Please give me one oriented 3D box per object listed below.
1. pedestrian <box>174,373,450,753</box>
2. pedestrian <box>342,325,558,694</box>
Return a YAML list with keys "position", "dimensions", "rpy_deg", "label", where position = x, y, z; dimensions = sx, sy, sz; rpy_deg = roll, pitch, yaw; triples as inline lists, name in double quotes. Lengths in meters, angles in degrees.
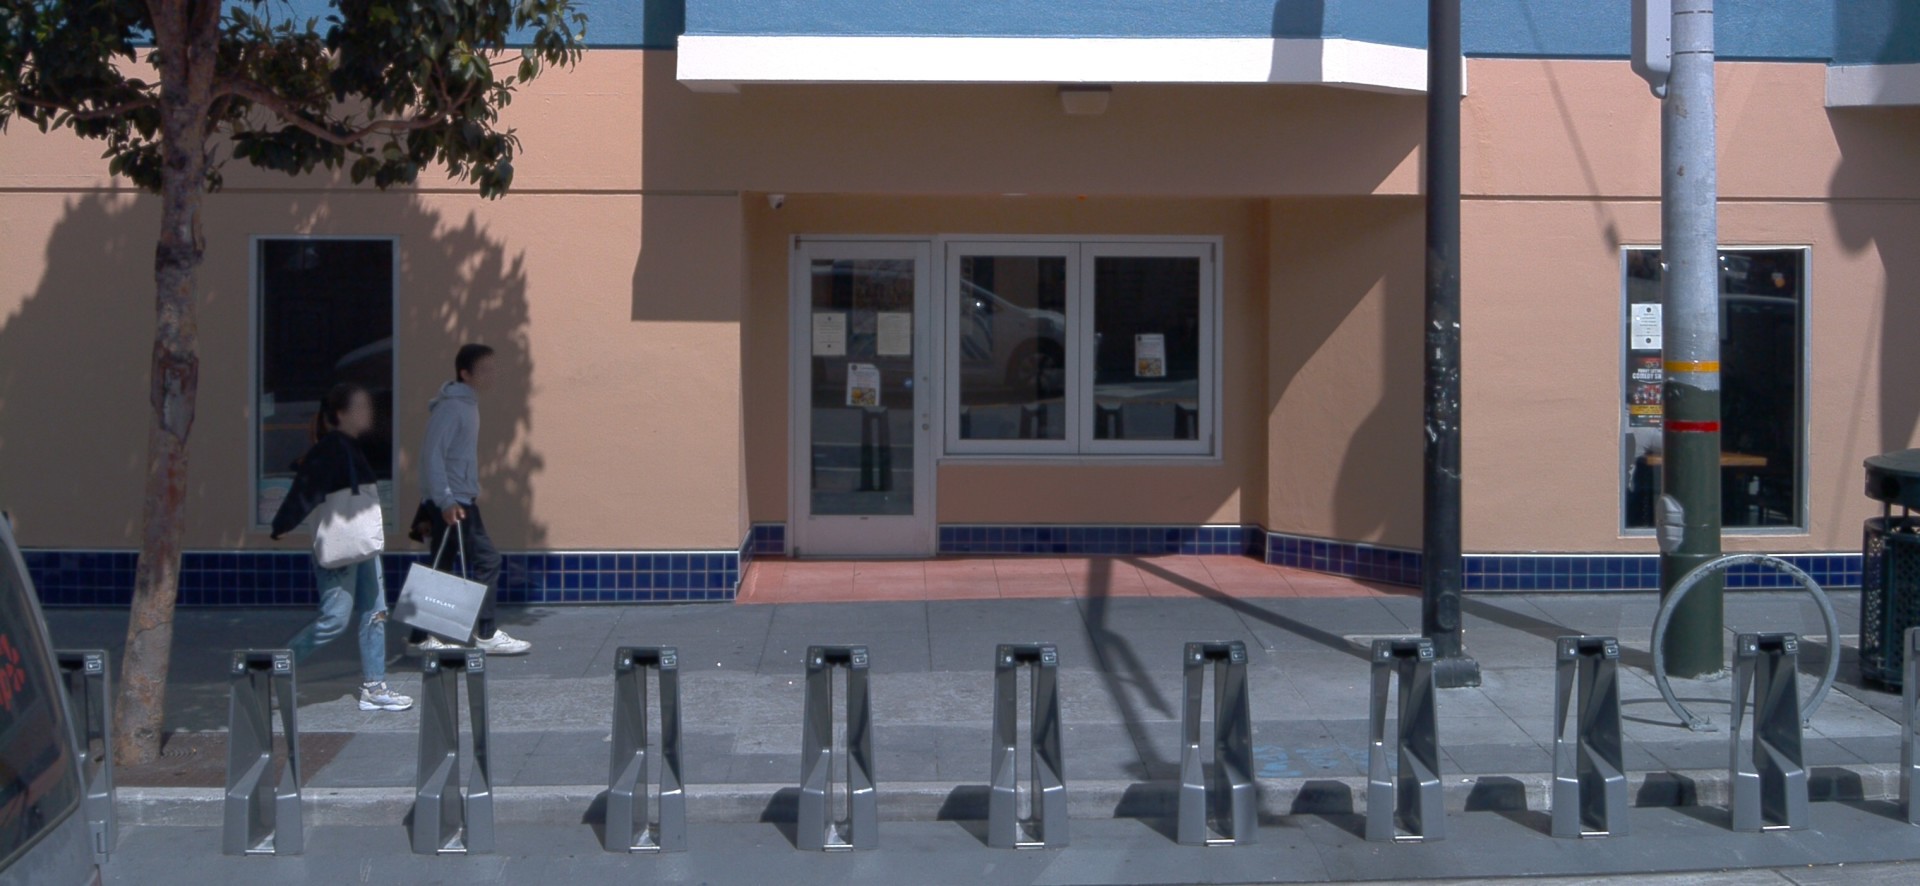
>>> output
- position: [-3.099, 0.539, 9.982]
  dimensions: [1.038, 1.676, 0.886]
  rpy_deg: [-1, 2, -1]
  label: "pedestrian"
- position: [-2.730, 0.313, 11.176]
  dimensions: [1.038, 1.826, 0.954]
  rpy_deg: [-1, 2, -9]
  label: "pedestrian"
